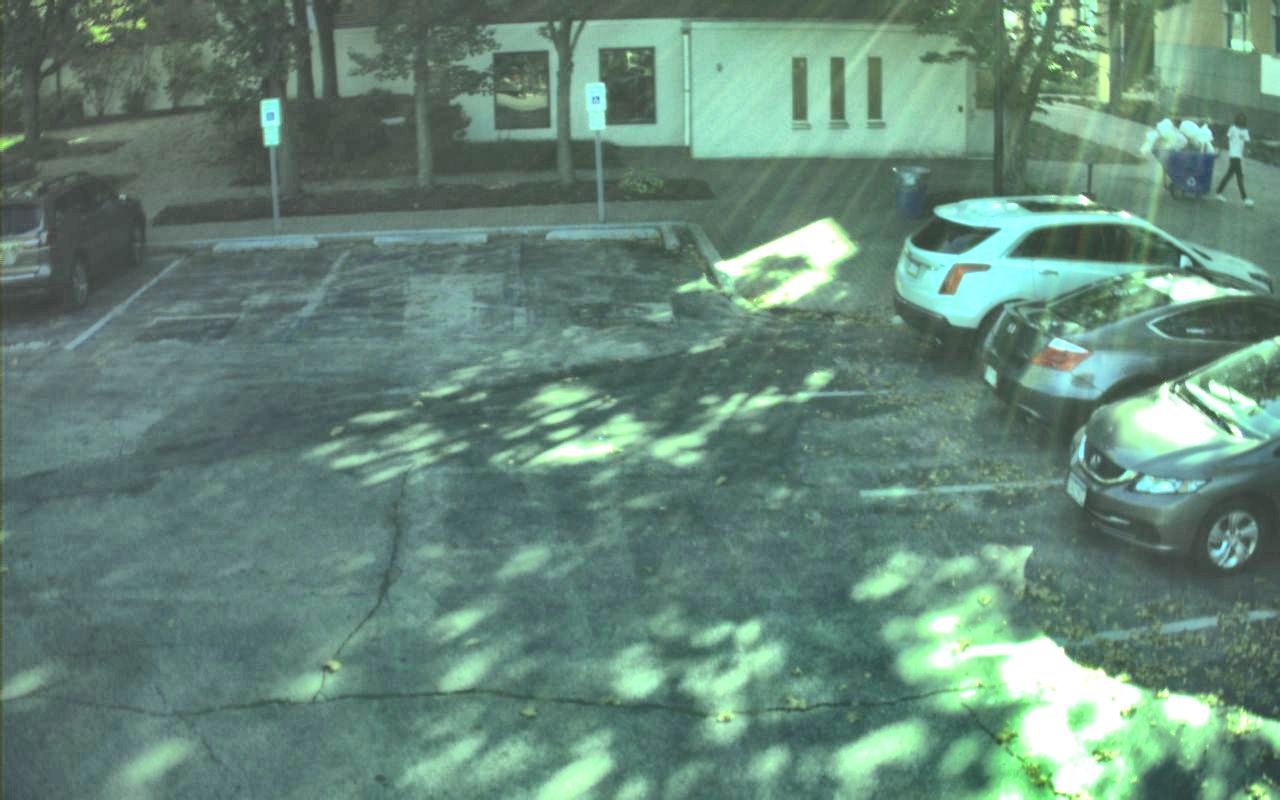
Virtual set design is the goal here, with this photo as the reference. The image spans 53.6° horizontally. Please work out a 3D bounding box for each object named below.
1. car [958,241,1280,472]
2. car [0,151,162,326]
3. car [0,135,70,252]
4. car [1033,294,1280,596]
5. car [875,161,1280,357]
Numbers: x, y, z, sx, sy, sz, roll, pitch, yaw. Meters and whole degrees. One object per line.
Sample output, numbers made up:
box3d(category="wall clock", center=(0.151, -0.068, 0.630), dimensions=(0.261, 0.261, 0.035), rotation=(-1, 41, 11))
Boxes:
box3d(category="car", center=(5.192, -0.501, 10.716), dimensions=(4.280, 1.554, 1.911), rotation=(-2, 16, -3))
box3d(category="car", center=(-8.569, -2.440, 16.627), dimensions=(1.978, 1.676, 4.593), rotation=(-2, 17, -5))
box3d(category="car", center=(-13.382, -4.237, 22.538), dimensions=(1.972, 1.626, 4.578), rotation=(-2, 17, -4))
box3d(category="car", center=(5.284, 0.201, 8.440), dimensions=(4.375, 1.562, 1.937), rotation=(-2, 16, -2))
box3d(category="car", center=(5.045, -1.649, 13.164), dimensions=(4.624, 1.699, 2.000), rotation=(-3, 16, -8))
